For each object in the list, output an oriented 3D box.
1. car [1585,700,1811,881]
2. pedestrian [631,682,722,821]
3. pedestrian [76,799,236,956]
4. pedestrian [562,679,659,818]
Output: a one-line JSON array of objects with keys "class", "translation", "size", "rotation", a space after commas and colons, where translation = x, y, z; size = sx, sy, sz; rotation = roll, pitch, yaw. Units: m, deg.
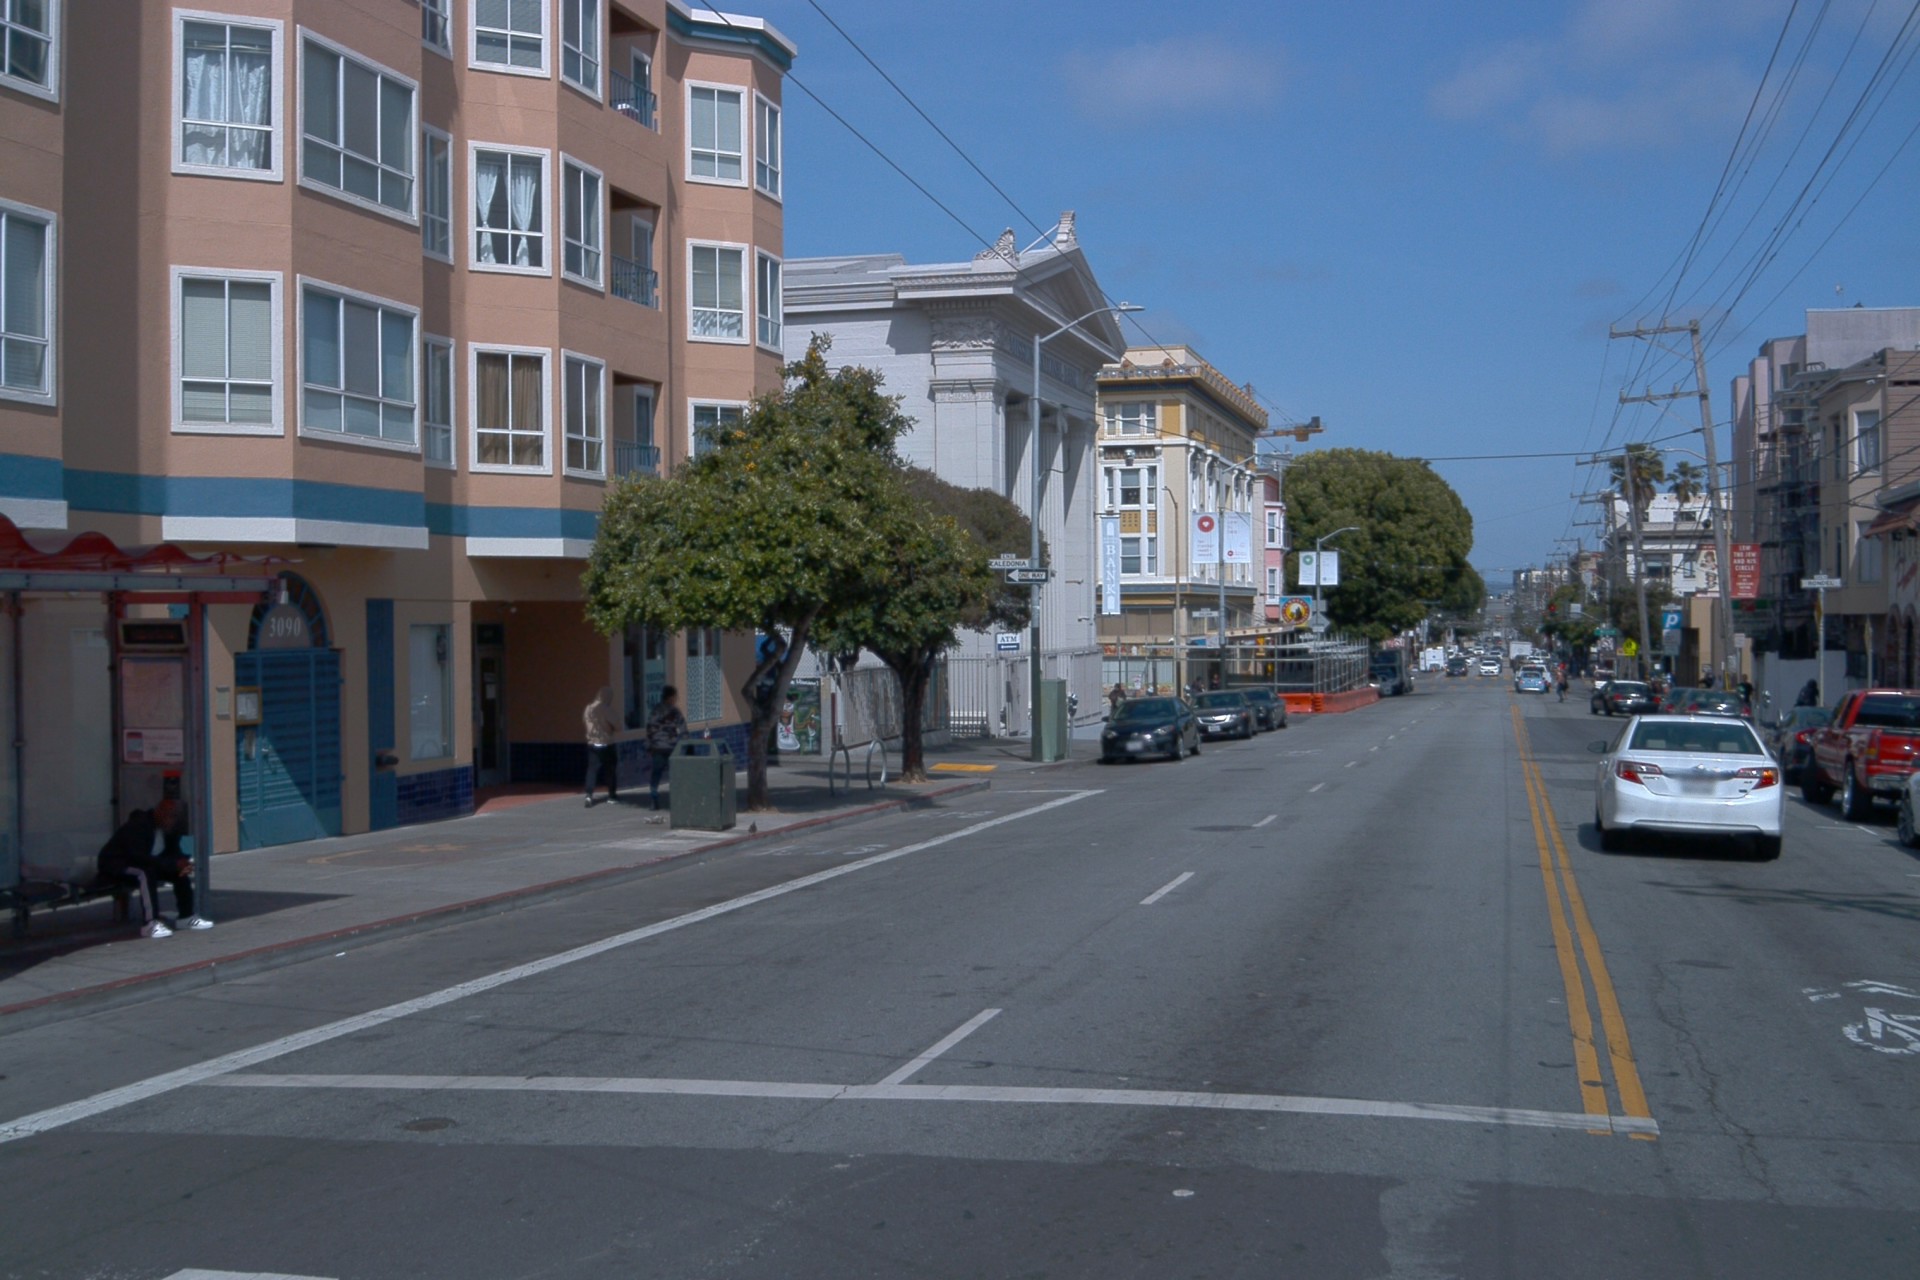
[{"class": "car", "translation": [8.005, 1.550, 22.764], "size": [2.077, 1.570, 4.577], "rotation": [0, 1, 16]}, {"class": "pedestrian", "translation": [-3.920, 1.528, 28.622], "size": [0.924, 1.850, 1.063], "rotation": [0, 1, 12]}, {"class": "pedestrian", "translation": [-6.257, 1.830, 16.086], "size": [0.827, 1.100, 0.831], "rotation": [0, 1, 14]}, {"class": "pedestrian", "translation": [-4.905, 1.504, 29.031], "size": [0.961, 1.870, 1.102], "rotation": [0, 1, 16]}]
